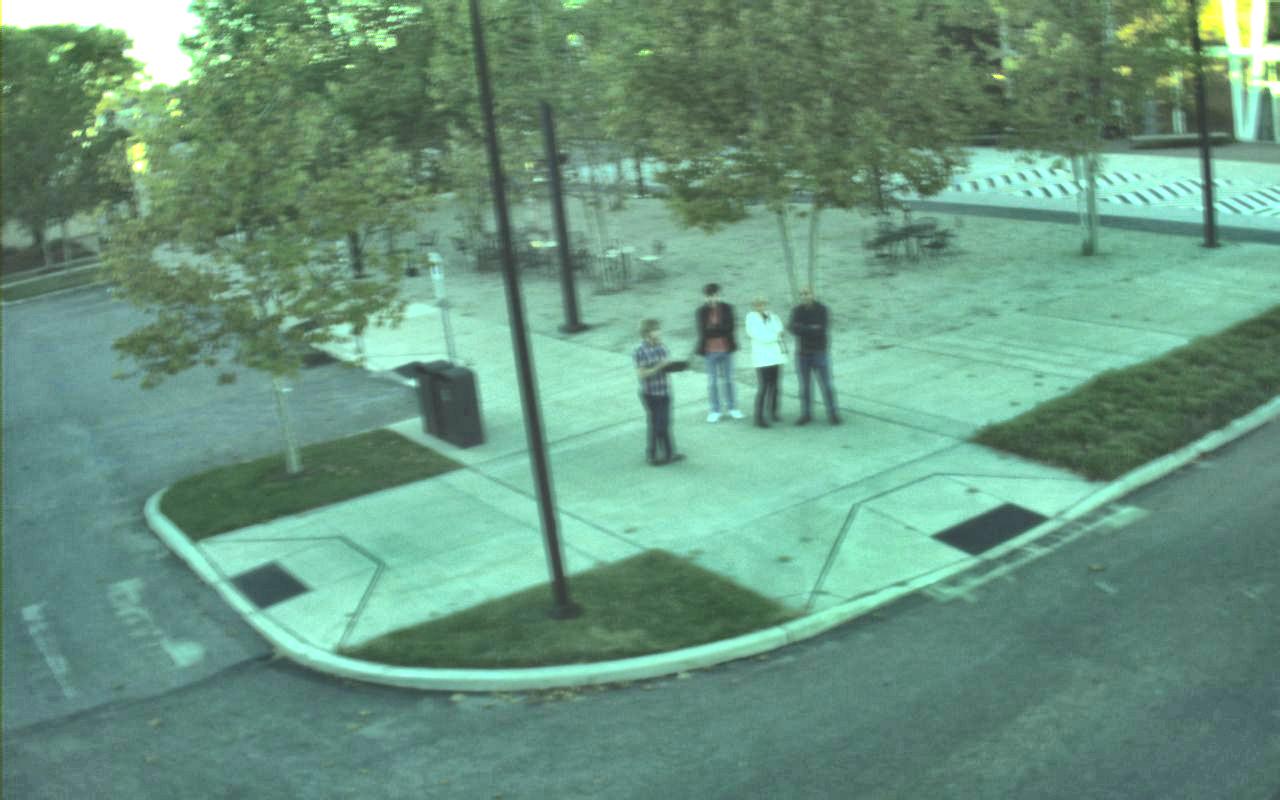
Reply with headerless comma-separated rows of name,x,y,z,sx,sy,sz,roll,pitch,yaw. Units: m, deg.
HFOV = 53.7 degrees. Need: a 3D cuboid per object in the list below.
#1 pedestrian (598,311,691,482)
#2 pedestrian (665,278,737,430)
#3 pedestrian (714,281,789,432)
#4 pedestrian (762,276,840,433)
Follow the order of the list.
pedestrian,0.063,-0.062,15.283,0.782,1.829,0.774,12,20,41
pedestrian,0.810,-0.628,16.917,0.772,1.843,0.783,-4,15,-12
pedestrian,1.472,-0.583,16.570,0.761,1.784,0.792,6,16,24
pedestrian,2.076,-0.602,16.203,0.742,1.825,0.766,8,17,31
